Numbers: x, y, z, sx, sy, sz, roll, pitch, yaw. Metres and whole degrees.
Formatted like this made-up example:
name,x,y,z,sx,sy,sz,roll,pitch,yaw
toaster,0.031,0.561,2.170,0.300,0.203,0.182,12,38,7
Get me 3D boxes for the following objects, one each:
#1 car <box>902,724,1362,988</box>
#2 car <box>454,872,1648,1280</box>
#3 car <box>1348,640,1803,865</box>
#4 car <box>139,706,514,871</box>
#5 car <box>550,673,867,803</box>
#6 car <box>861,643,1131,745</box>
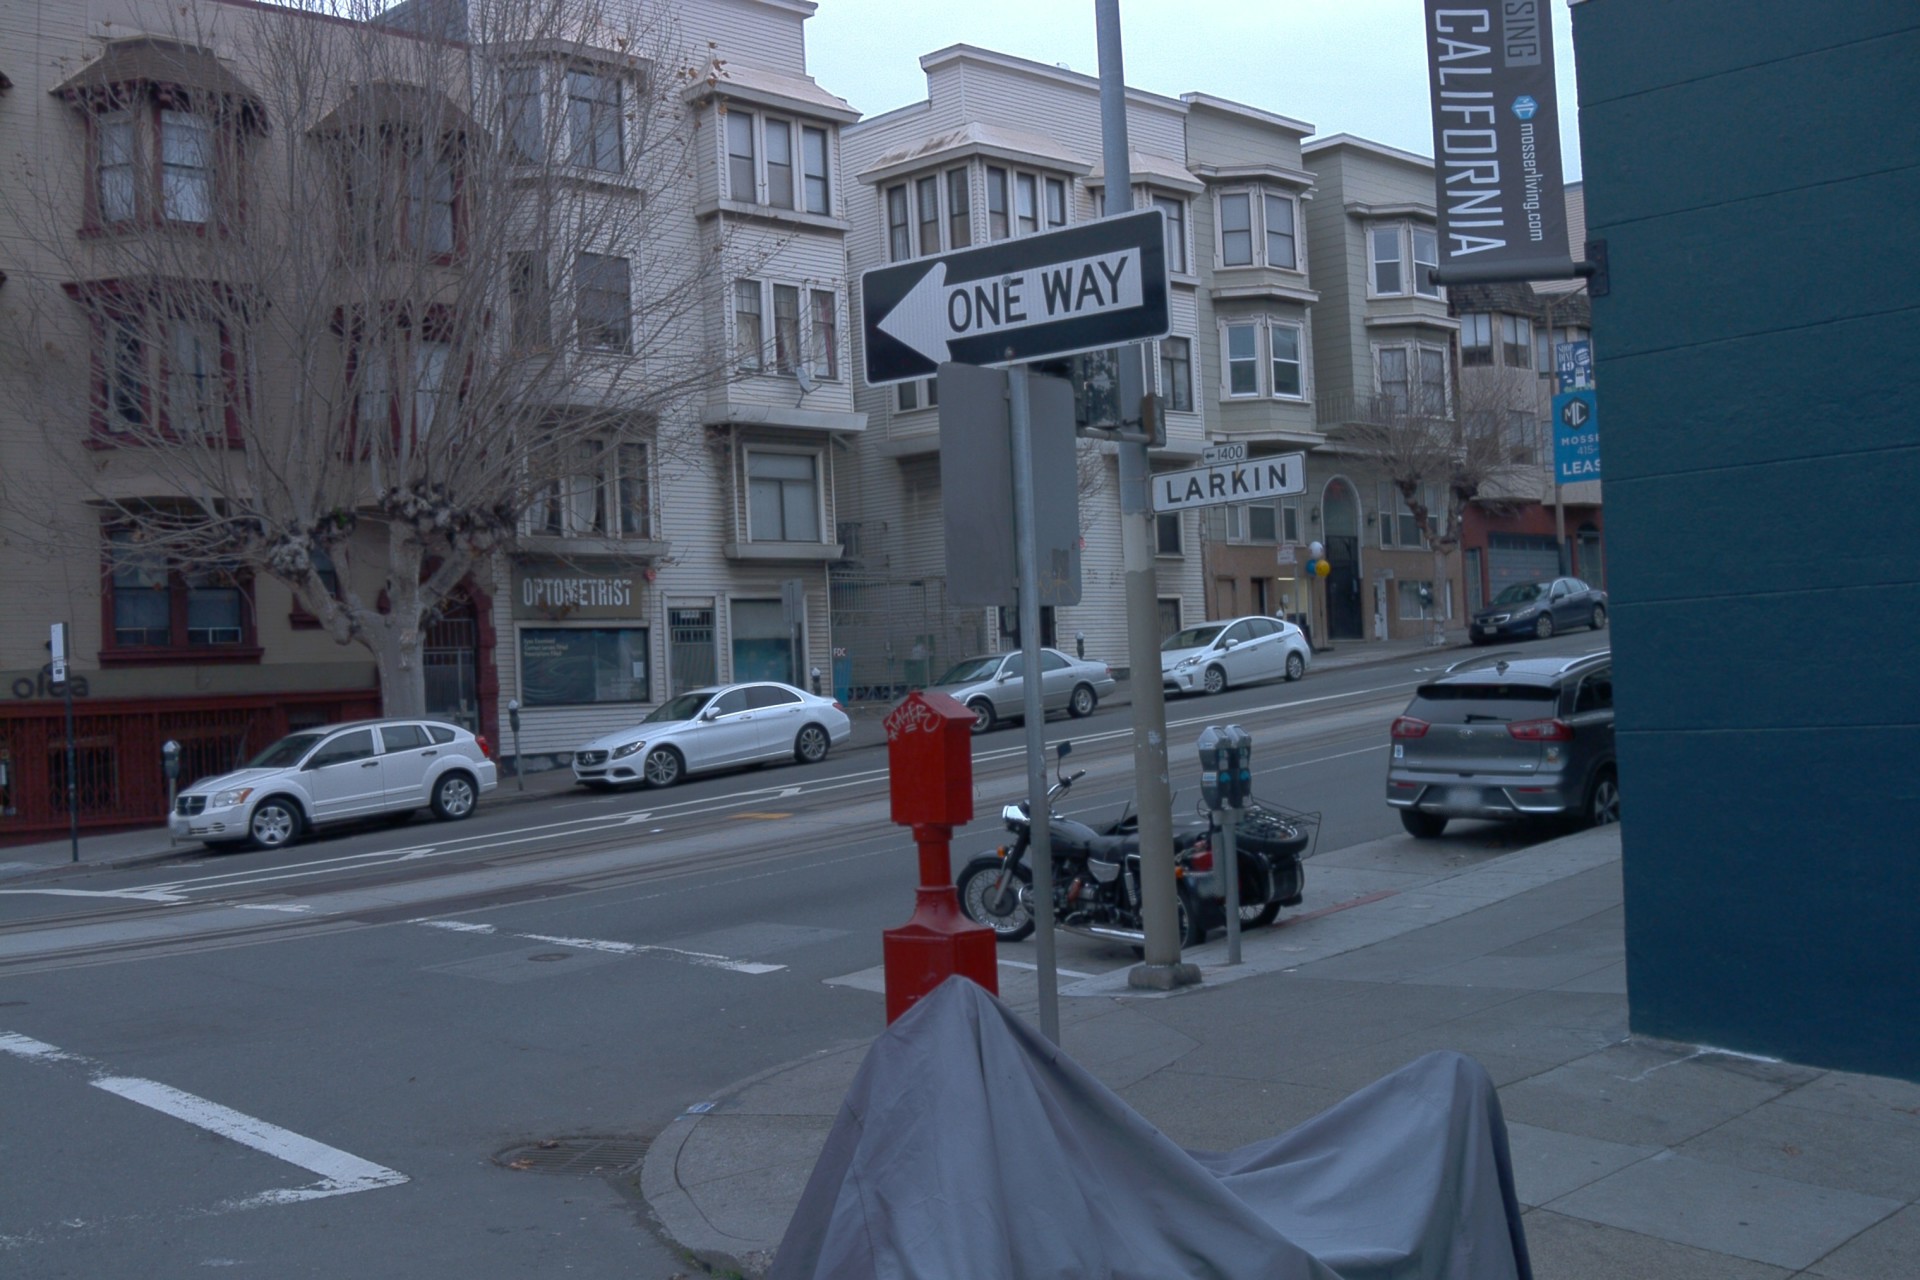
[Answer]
name,x,y,z,sx,sy,sz,roll,pitch,yaw
car,1.133,1.377,14.055,2.745,1.460,1.540,0,1,42
car,0.332,1.392,4.286,2.490,1.520,1.048,-1,1,-44
car,5.645,0.882,18.584,2.132,1.717,4.606,0,1,42
car,-8.482,1.914,27.920,2.053,1.847,4.407,1,1,44
car,-3.872,1.462,32.361,4.589,1.757,2.074,-1,1,-44
car,0.712,0.916,37.121,4.801,1.657,2.084,-1,1,-45
